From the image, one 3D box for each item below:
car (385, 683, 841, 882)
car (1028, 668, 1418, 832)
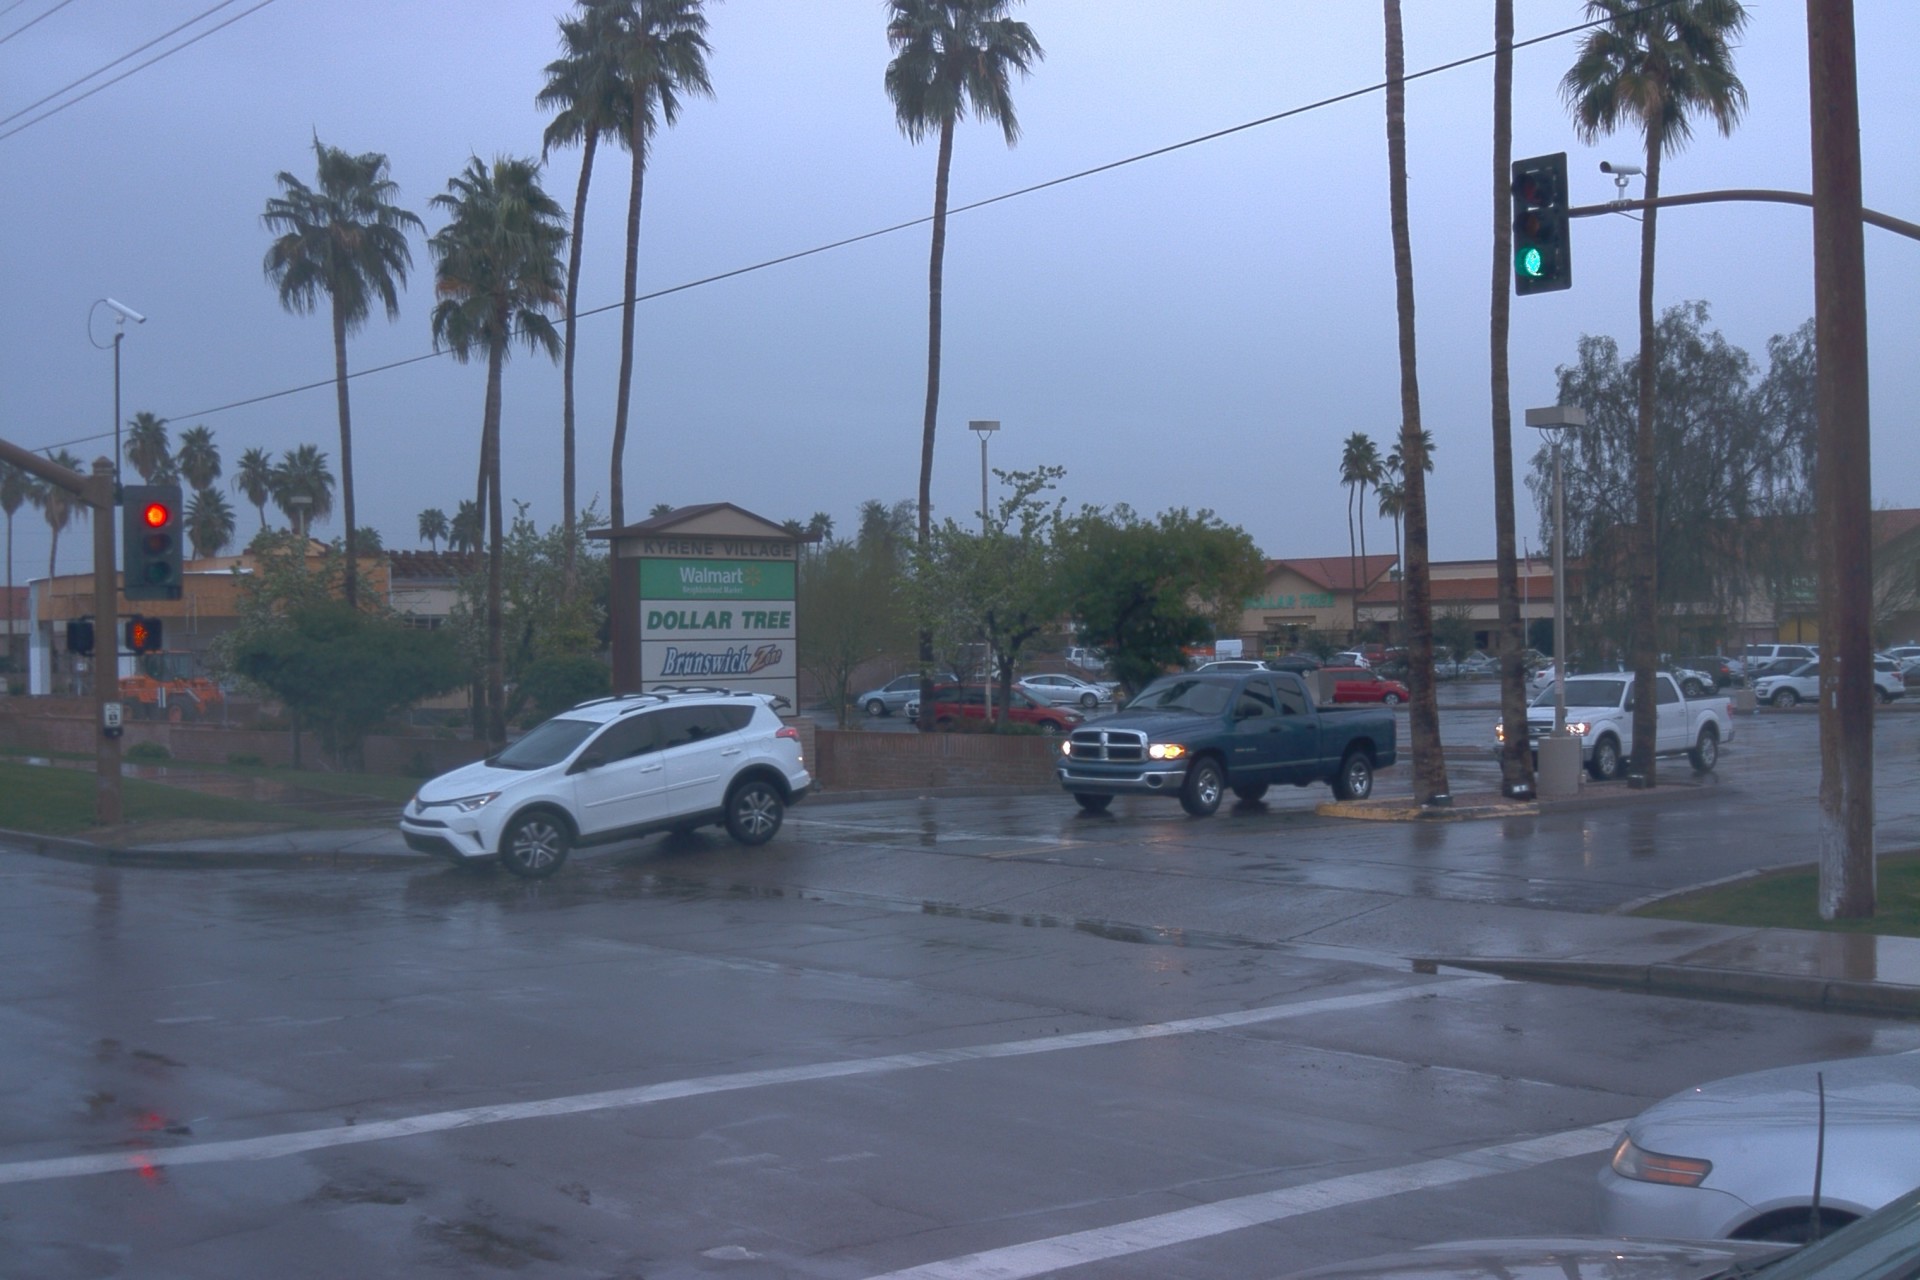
[{"bbox_3d":[-3.744,1.458,22.869,4.519,1.940,2.037,1,0,-39],"label":"car"},{"bbox_3d":[3.735,1.395,28.630,2.433,2.000,5.767,0,-1,43],"label":"car"}]
